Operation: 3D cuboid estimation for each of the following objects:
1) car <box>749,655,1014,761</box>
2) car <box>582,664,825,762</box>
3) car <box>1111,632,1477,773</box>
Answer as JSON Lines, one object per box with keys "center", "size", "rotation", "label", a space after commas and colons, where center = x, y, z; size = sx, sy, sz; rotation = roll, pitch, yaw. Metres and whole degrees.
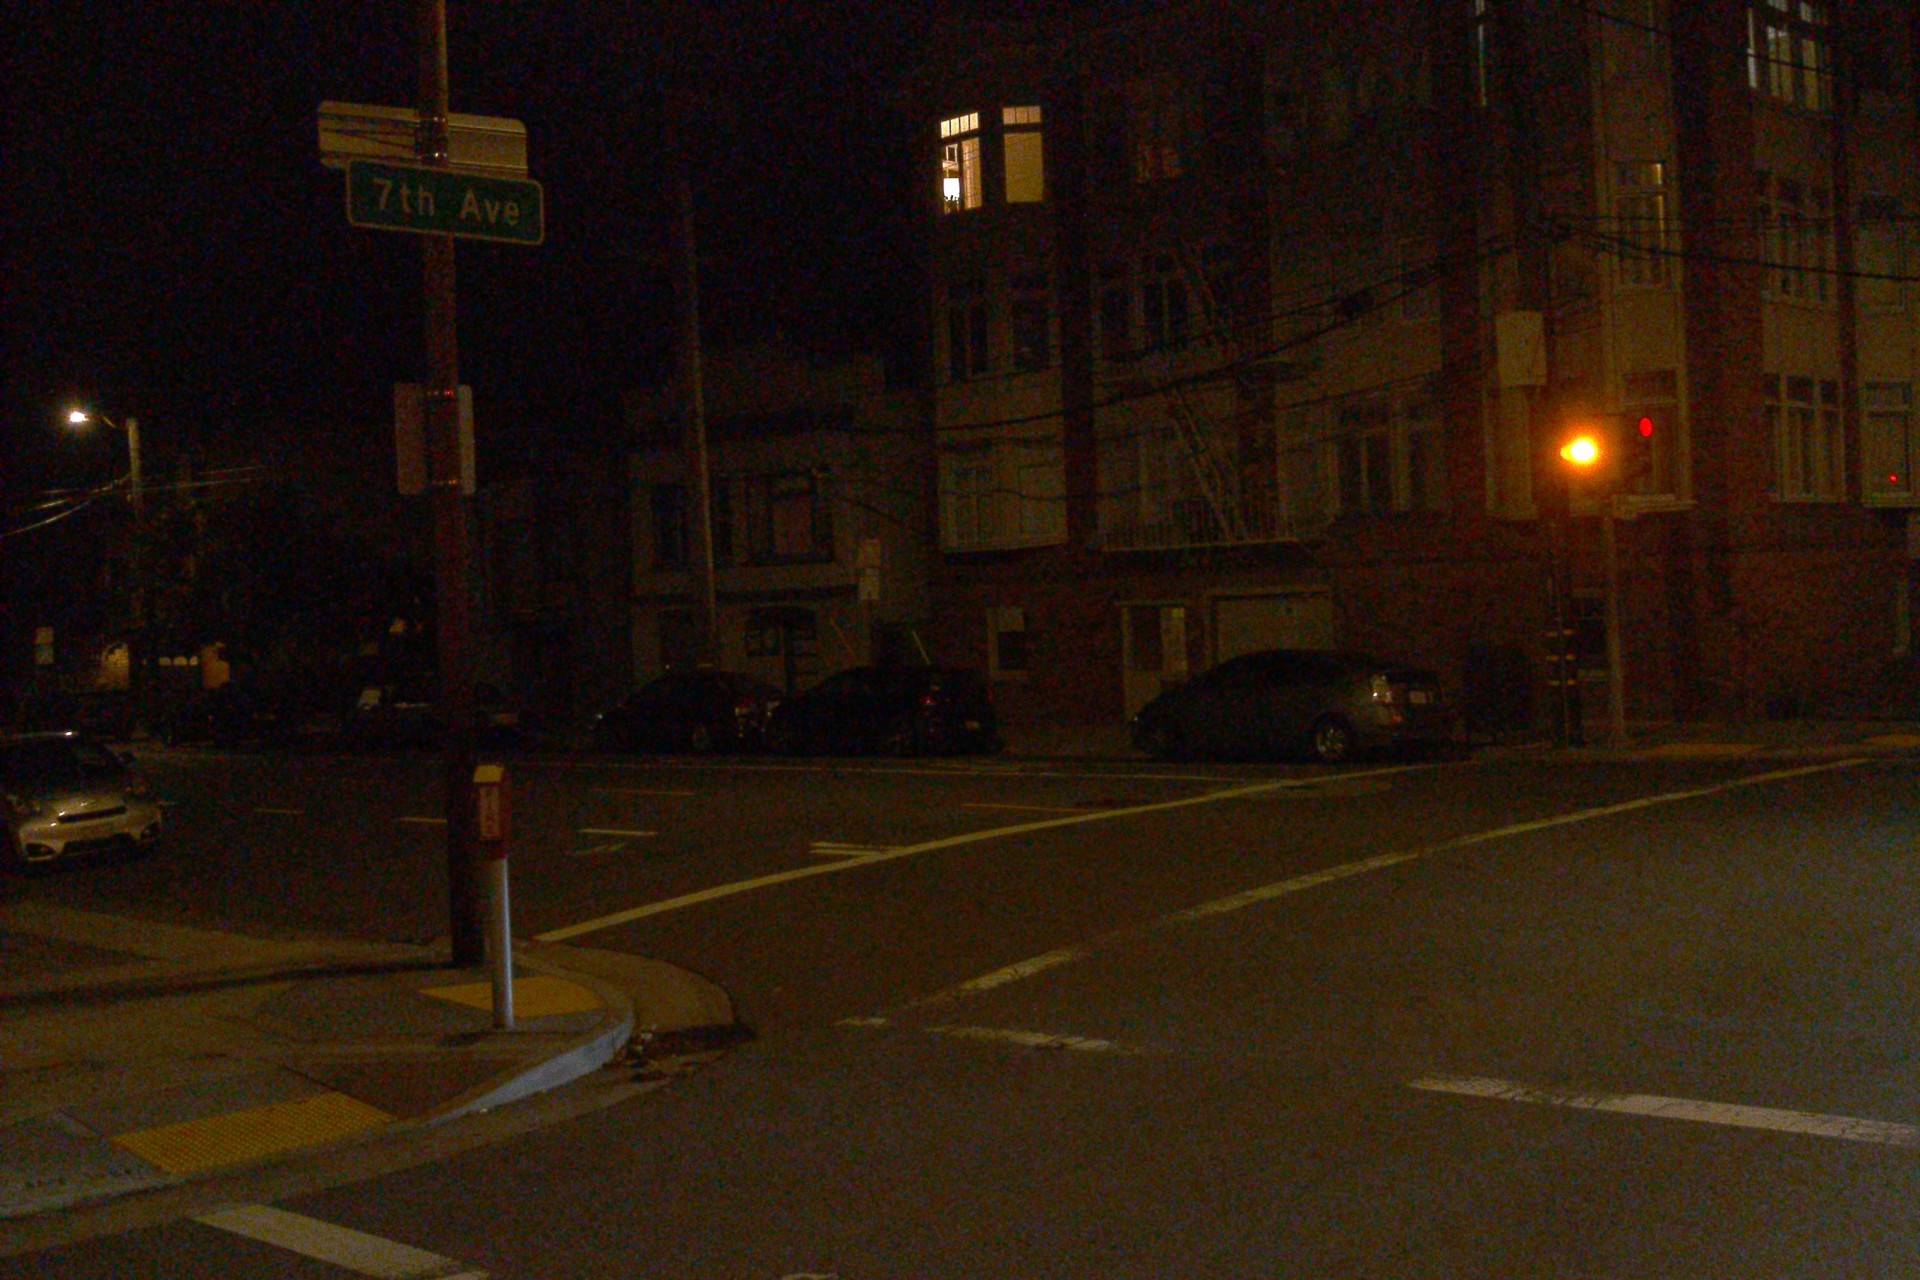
{"center": [-1.297, 1.025, 32.499], "size": [4.150, 1.470, 1.786], "rotation": [1, 1, 43], "label": "car"}
{"center": [-4.509, 1.217, 35.768], "size": [4.298, 1.460, 1.941], "rotation": [1, 1, 44], "label": "car"}
{"center": [4.297, 0.740, 26.963], "size": [1.933, 1.630, 4.458], "rotation": [-1, 1, -44], "label": "car"}
